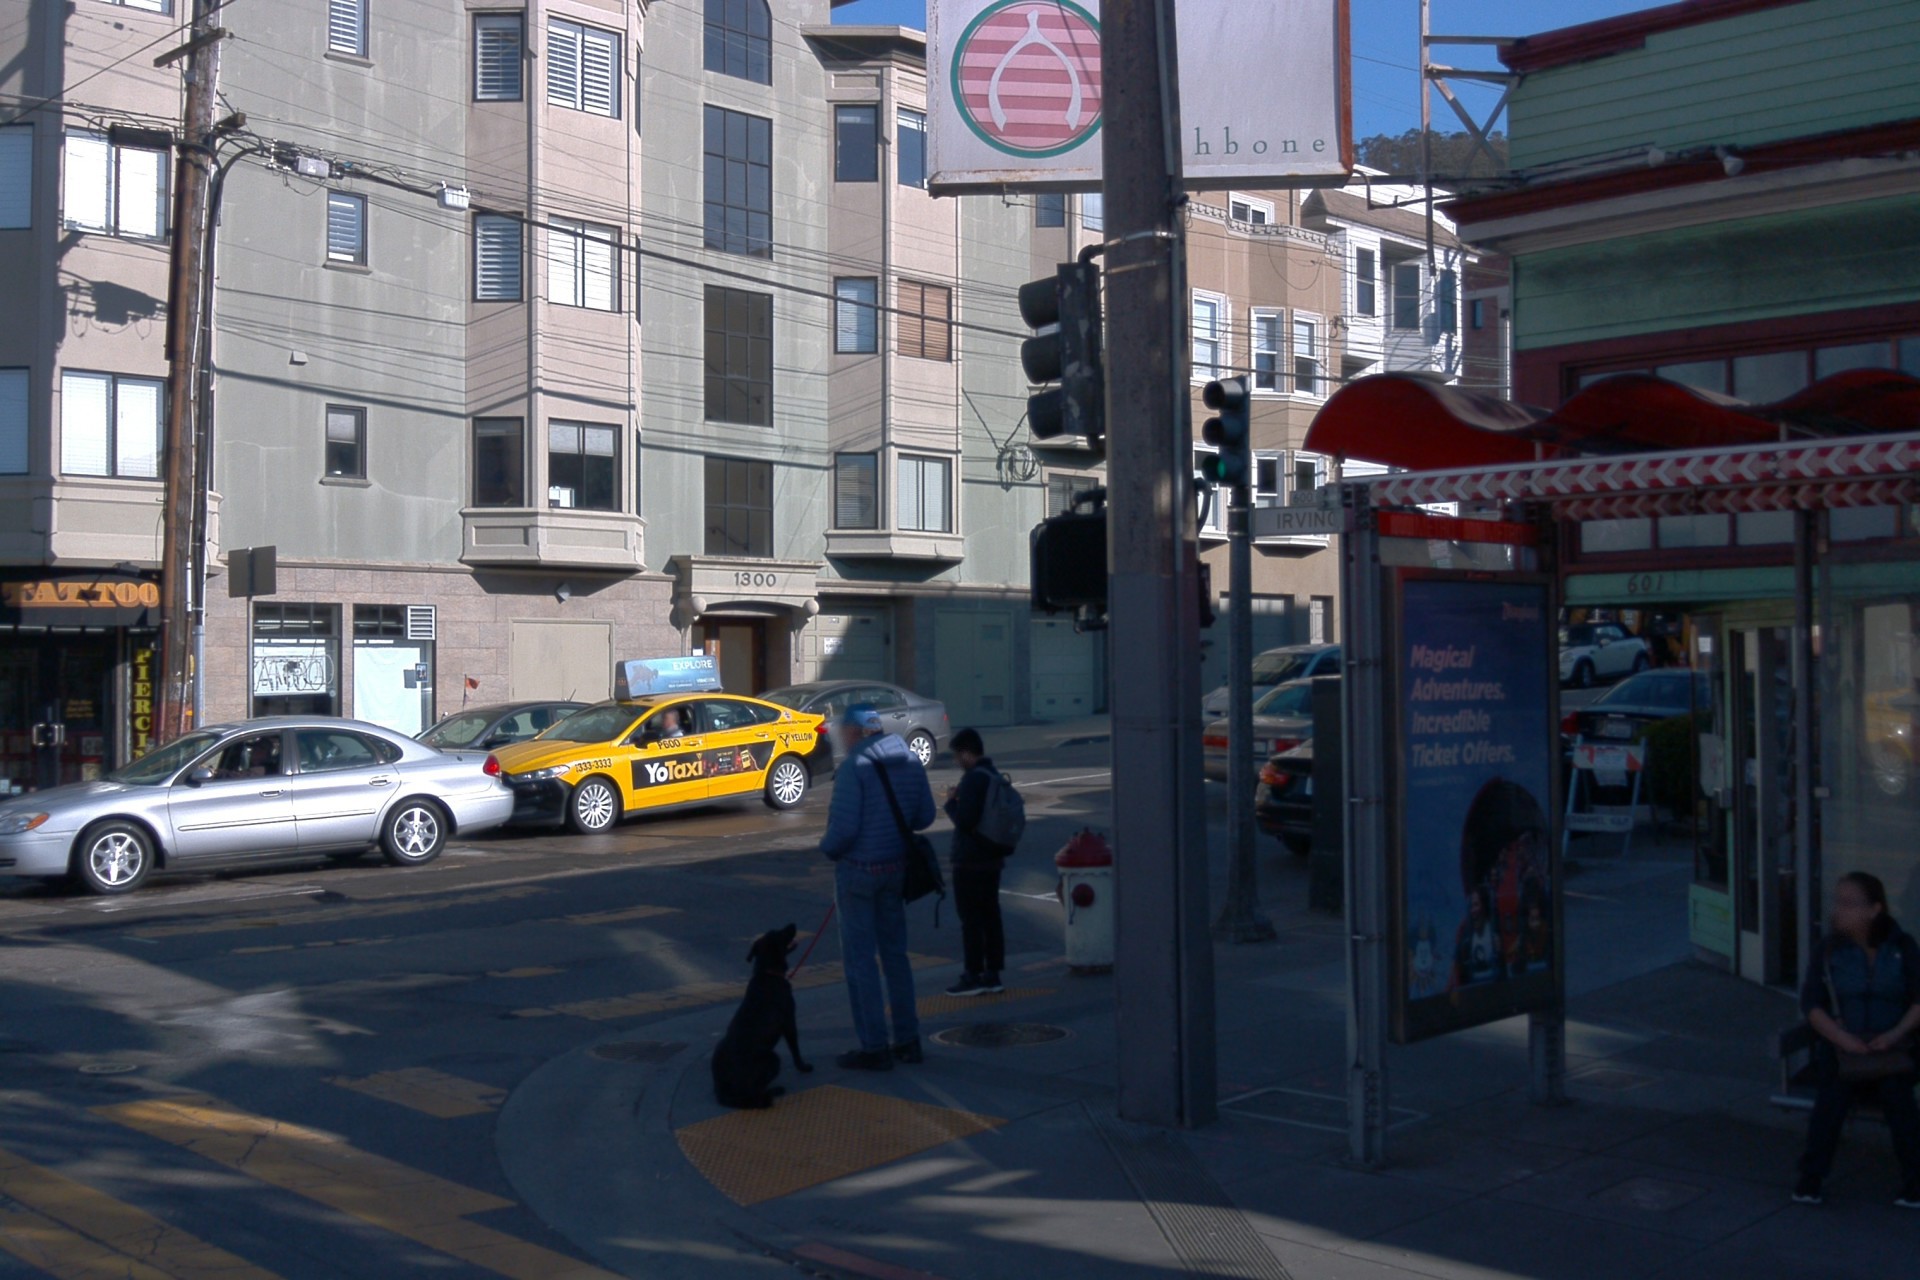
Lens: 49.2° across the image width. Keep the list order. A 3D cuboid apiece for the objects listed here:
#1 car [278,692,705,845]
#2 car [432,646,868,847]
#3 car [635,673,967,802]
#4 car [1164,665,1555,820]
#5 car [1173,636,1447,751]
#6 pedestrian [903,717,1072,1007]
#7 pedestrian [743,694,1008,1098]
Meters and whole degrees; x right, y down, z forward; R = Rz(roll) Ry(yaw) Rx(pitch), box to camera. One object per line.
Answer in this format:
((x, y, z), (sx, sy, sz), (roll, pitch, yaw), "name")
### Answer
((-5.776, 1.518, 26.272), (2.149, 1.660, 4.833), (0, 0, 44), "car")
((-3.514, 1.144, 24.495), (2.070, 2.100, 4.772), (1, 0, 43), "car")
((-2.214, 1.325, 30.144), (2.102, 1.670, 4.524), (0, 0, 43), "car")
((4.731, 1.096, 24.315), (2.077, 1.590, 4.904), (0, 0, 44), "car")
((5.569, 0.809, 32.965), (4.554, 1.680, 1.896), (1, 0, -44), "car")
((0.168, 1.344, 13.044), (0.687, 1.700, 0.778), (0, 0, -43), "pedestrian")
((-0.416, 1.213, 10.444), (0.894, 1.860, 0.955), (1, 0, 40), "pedestrian")
